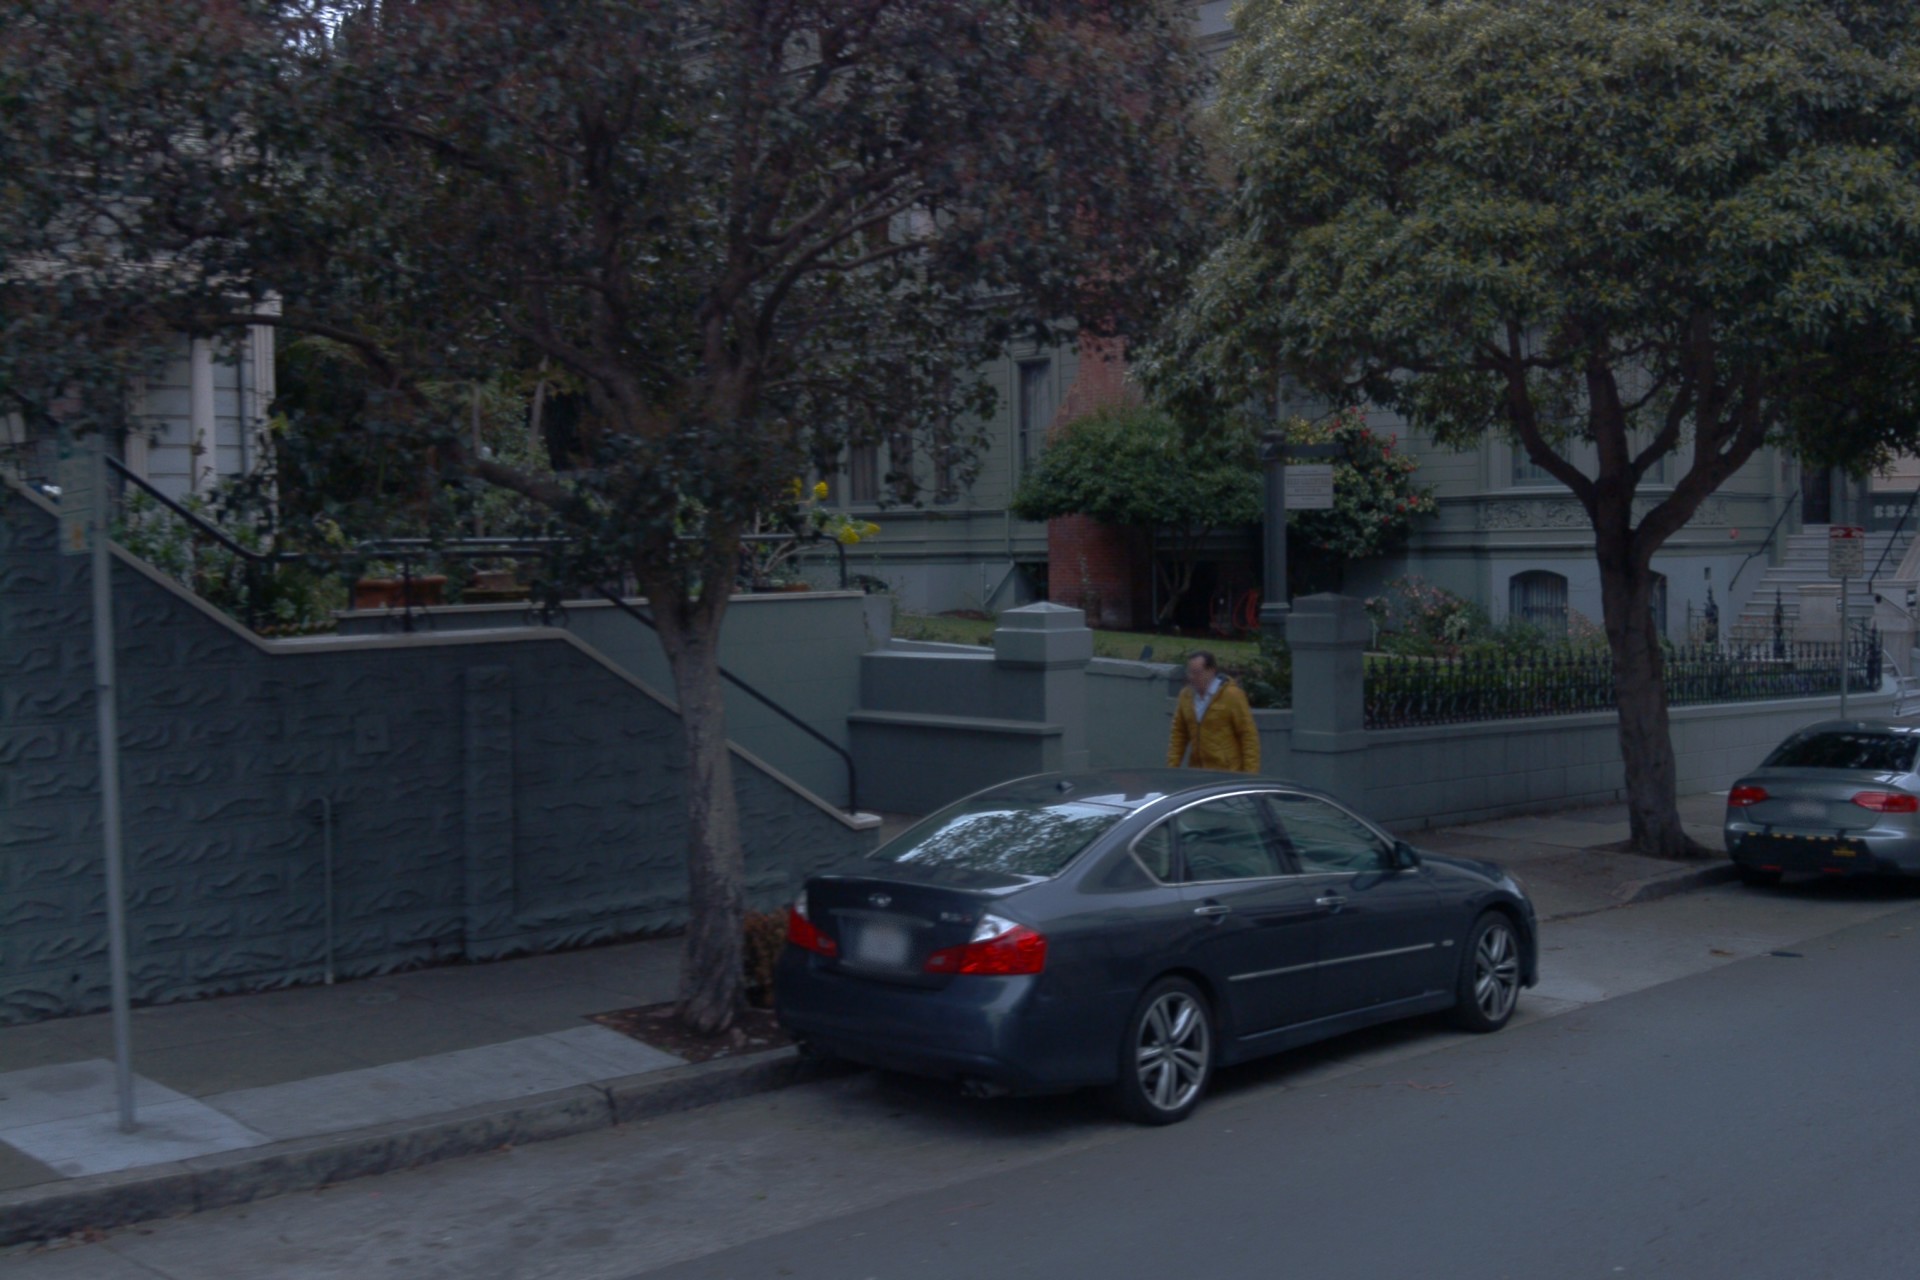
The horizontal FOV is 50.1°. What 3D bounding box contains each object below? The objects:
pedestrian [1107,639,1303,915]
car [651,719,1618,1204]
[{"bbox_3d":[1.758,0.937,14.771,0.981,1.870,0.989,2,1,43],"label":"pedestrian"},{"bbox_3d":[1.159,1.367,10.695,2.238,1.640,5.155,2,1,44],"label":"car"}]
